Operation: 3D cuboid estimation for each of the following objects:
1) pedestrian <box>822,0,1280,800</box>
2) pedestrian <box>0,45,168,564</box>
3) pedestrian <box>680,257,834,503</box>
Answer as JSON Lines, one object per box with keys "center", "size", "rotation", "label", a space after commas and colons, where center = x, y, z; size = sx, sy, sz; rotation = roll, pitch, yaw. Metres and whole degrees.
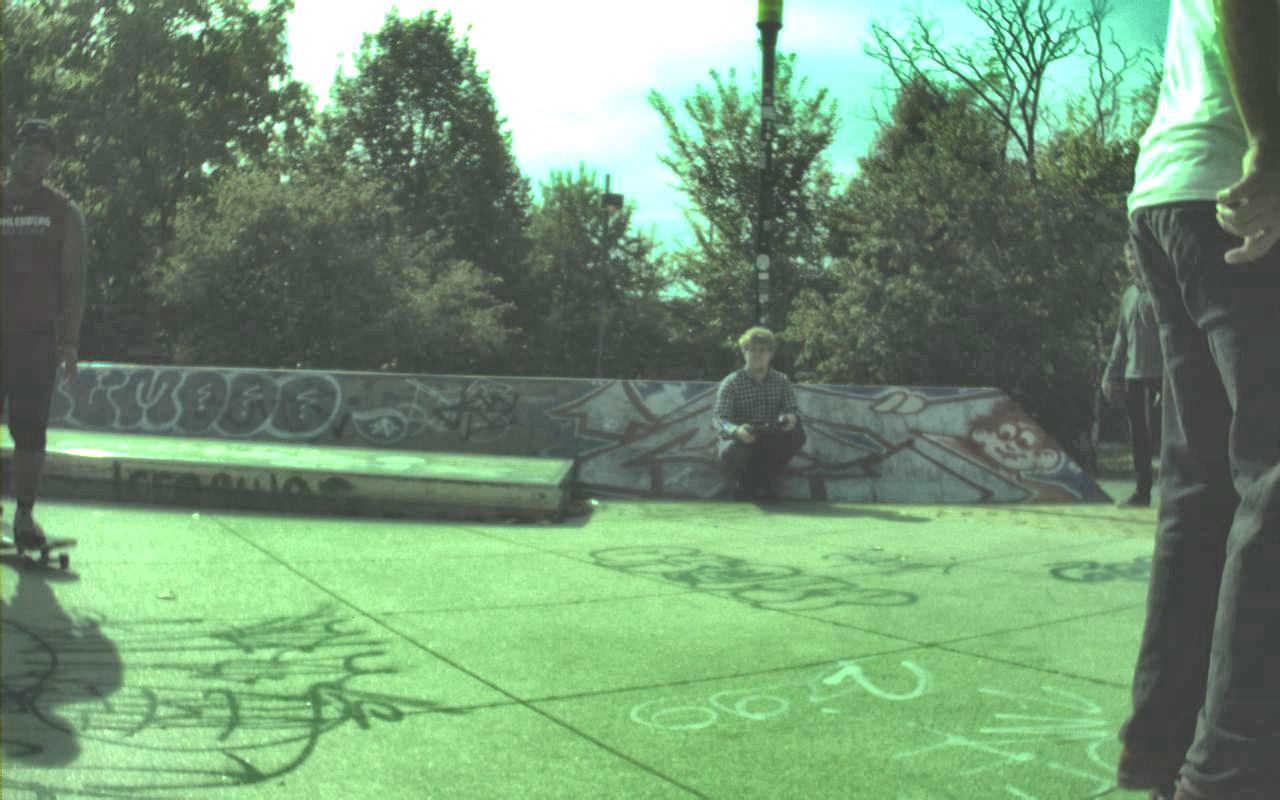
{"center": [0.783, -0.110, 1.674], "size": [0.741, 1.698, 0.779], "rotation": [1, 0, 35], "label": "pedestrian"}
{"center": [-2.291, -0.336, 4.277], "size": [0.812, 1.814, 0.817], "rotation": [0, 0, -35], "label": "pedestrian"}
{"center": [0.773, -0.133, 8.112], "size": [0.795, 1.491, 0.838], "rotation": [1, 0, 20], "label": "pedestrian"}
